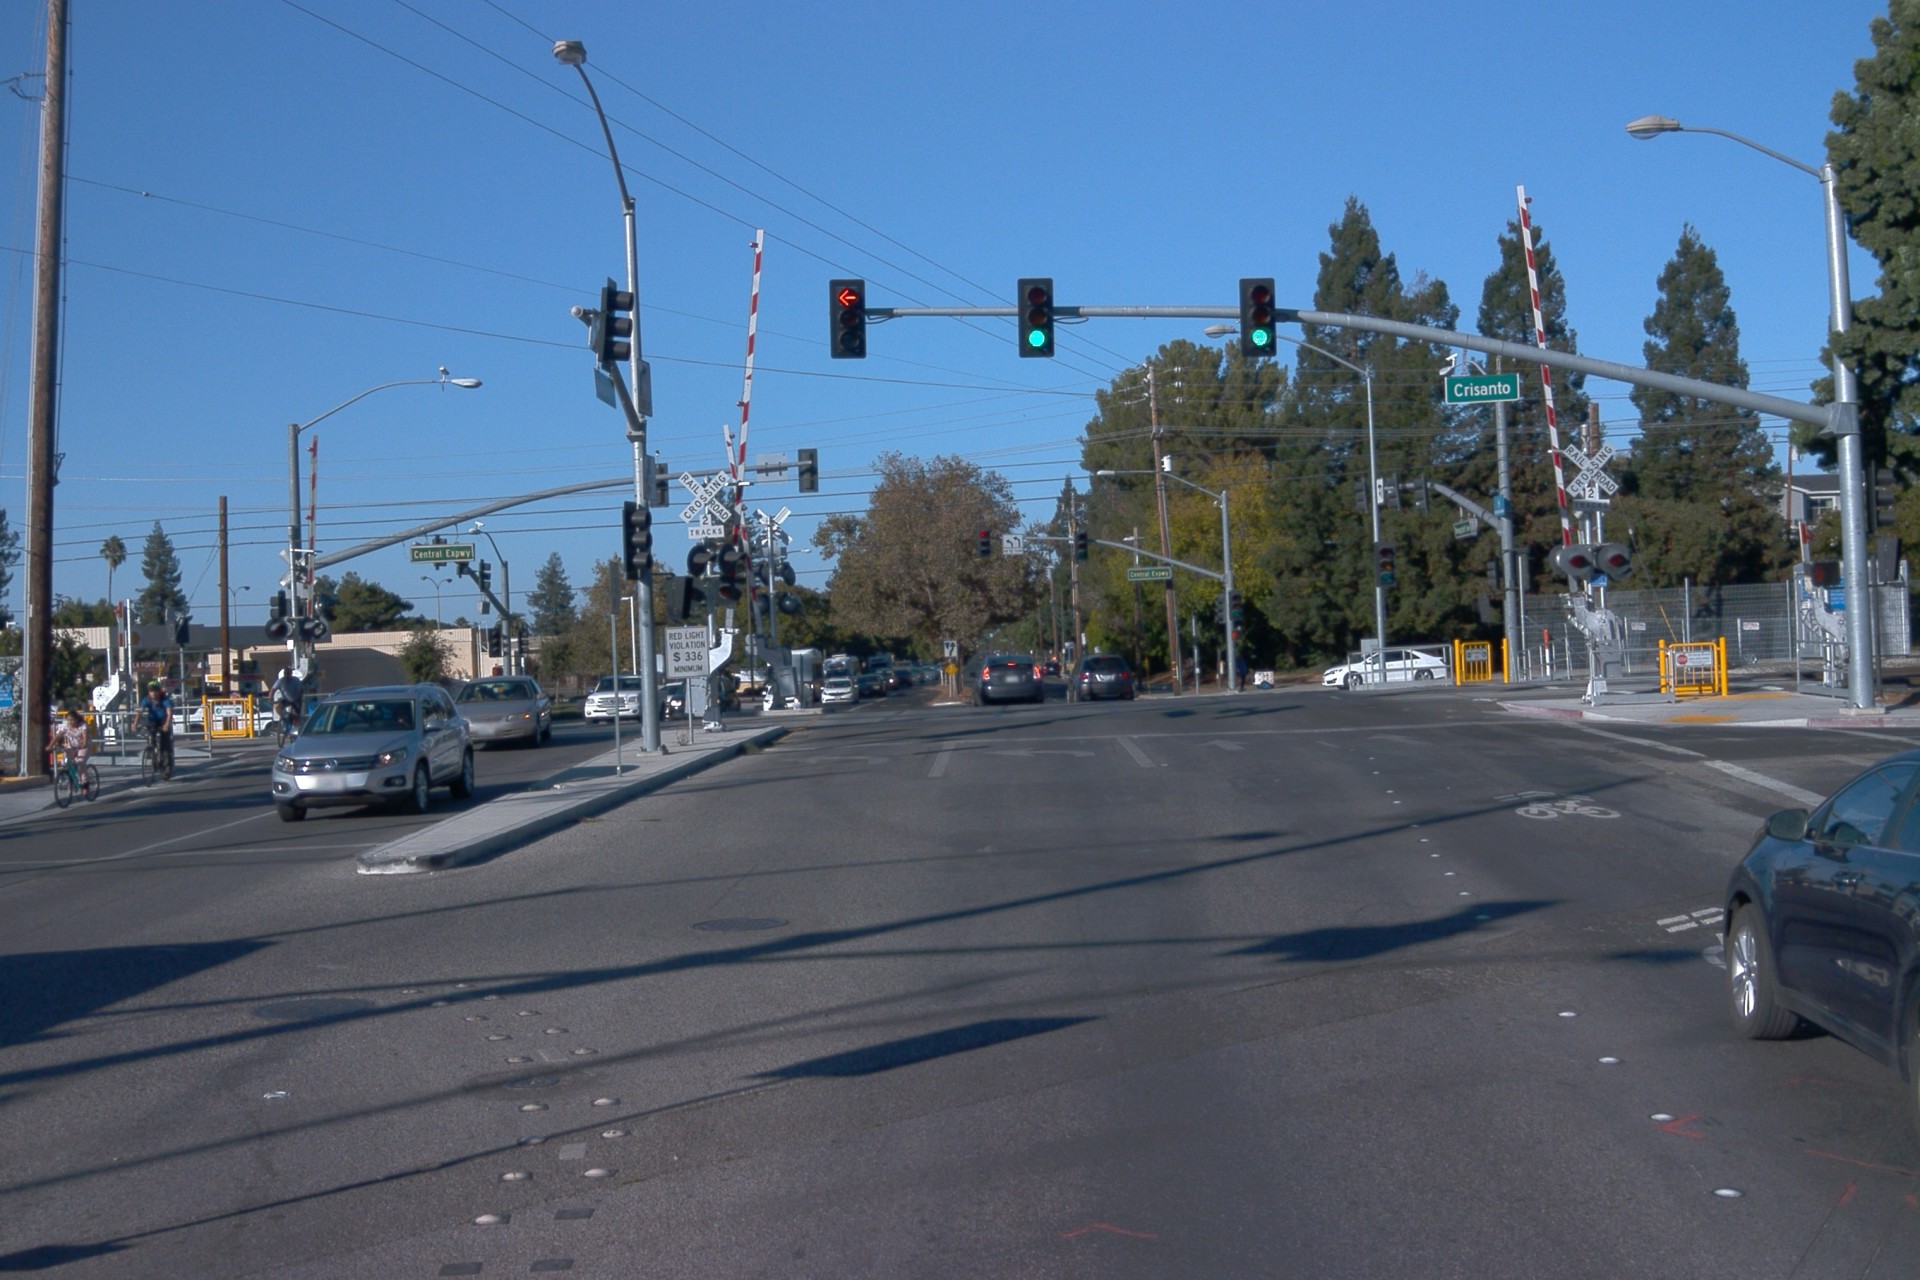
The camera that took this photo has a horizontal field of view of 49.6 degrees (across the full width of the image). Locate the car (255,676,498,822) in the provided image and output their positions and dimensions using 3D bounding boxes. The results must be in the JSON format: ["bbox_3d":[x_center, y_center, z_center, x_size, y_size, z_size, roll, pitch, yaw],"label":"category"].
[{"bbox_3d":[-7.765,1.396,28.125,2.081,1.730,4.331,-1,0,-1],"label":"car"}]

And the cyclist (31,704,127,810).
[{"bbox_3d":[-13.690,1.802,32.335,0.768,1.540,1.746,-1,0,-2],"label":"cyclist"}]

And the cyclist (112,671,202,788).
[{"bbox_3d":[-13.699,1.496,35.495,0.869,1.910,1.939,-1,0,-3],"label":"cyclist"}]
